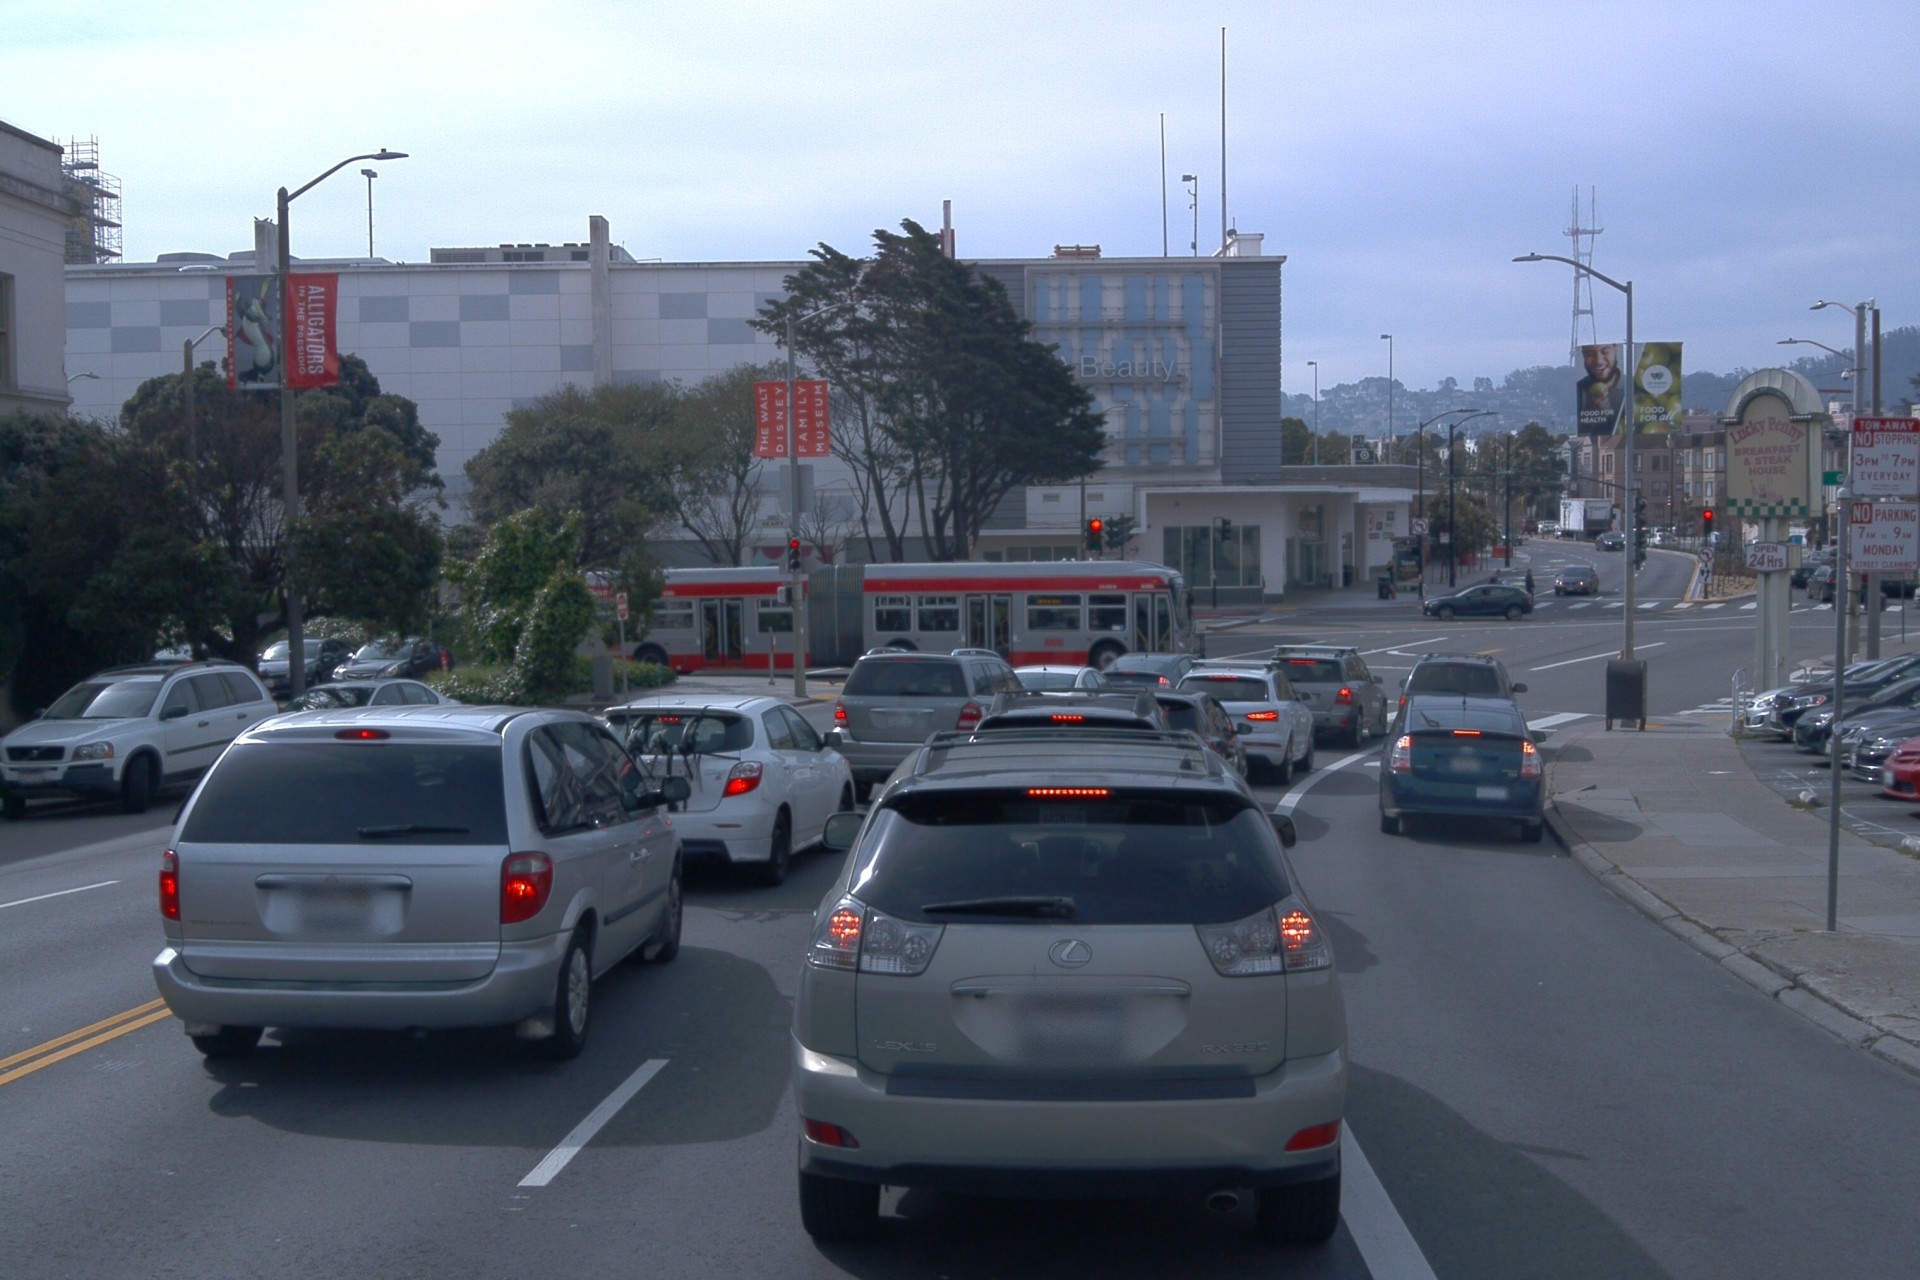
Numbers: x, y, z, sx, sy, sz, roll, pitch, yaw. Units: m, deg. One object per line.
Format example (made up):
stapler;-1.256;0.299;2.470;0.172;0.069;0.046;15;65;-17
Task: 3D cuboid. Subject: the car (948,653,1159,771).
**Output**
car;1.591;1.078;32.720;2.220;1.670;4.643;1;0;18

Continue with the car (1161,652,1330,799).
car;4.149;1.142;29.220;1.795;1.880;4.044;1;0;17

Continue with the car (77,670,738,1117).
car;-2.684;1.138;11.269;2.131;1.830;4.635;1;0;4

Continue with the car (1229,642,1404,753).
car;6.641;0.979;37.540;2.226;1.850;5.307;1;0;20

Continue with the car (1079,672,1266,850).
car;2.538;1.311;23.697;1.526;1.780;3.939;1;0;15

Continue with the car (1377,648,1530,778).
car;8.544;1.167;35.088;2.203;2.020;4.801;1;0;18

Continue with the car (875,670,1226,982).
car;0.849;1.213;15.303;2.119;1.870;4.391;1;0;9

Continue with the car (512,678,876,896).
car;-2.125;1.149;17.681;1.982;1.530;4.306;1;0;9

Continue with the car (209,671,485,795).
car;-9.230;1.346;31.231;1.977;1.640;4.663;1;0;13

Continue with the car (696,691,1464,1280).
car;0.409;1.169;8.130;2.197;1.780;4.467;1;0;2

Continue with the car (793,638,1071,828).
car;-0.210;1.041;25.536;2.236;2.100;4.827;1;0;15

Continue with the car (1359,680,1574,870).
car;5.627;1.418;23.175;2.113;1.790;4.645;1;0;12
